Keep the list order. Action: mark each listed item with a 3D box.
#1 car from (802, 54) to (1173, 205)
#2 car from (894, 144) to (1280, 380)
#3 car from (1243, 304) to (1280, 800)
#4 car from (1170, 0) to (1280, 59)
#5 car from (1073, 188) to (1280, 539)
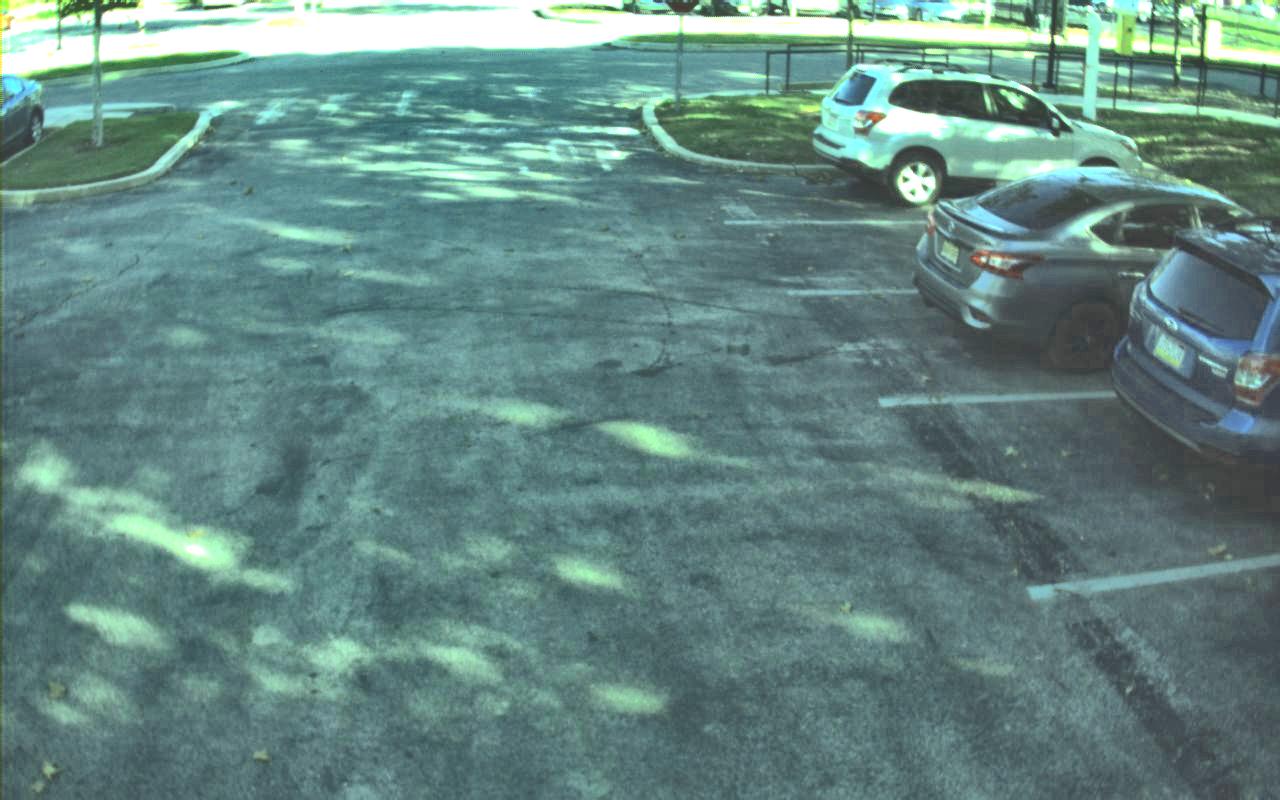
[{"bbox_3d":[4.580,-3.571,15.765,4.612,1.736,1.993,-4,16,-9],"label":"car"},{"bbox_3d":[4.589,-1.316,10.235,4.463,1.566,1.937,-4,16,-9],"label":"car"},{"bbox_3d":[5.611,0.614,5.204,4.429,1.622,1.969,-2,16,-2],"label":"car"},{"bbox_3d":[19.379,-12.080,36.357,4.538,1.641,1.979,-11,19,-31],"label":"car"},{"bbox_3d":[5.378,-0.460,7.693,4.437,1.742,1.976,-4,17,-11],"label":"car"}]
